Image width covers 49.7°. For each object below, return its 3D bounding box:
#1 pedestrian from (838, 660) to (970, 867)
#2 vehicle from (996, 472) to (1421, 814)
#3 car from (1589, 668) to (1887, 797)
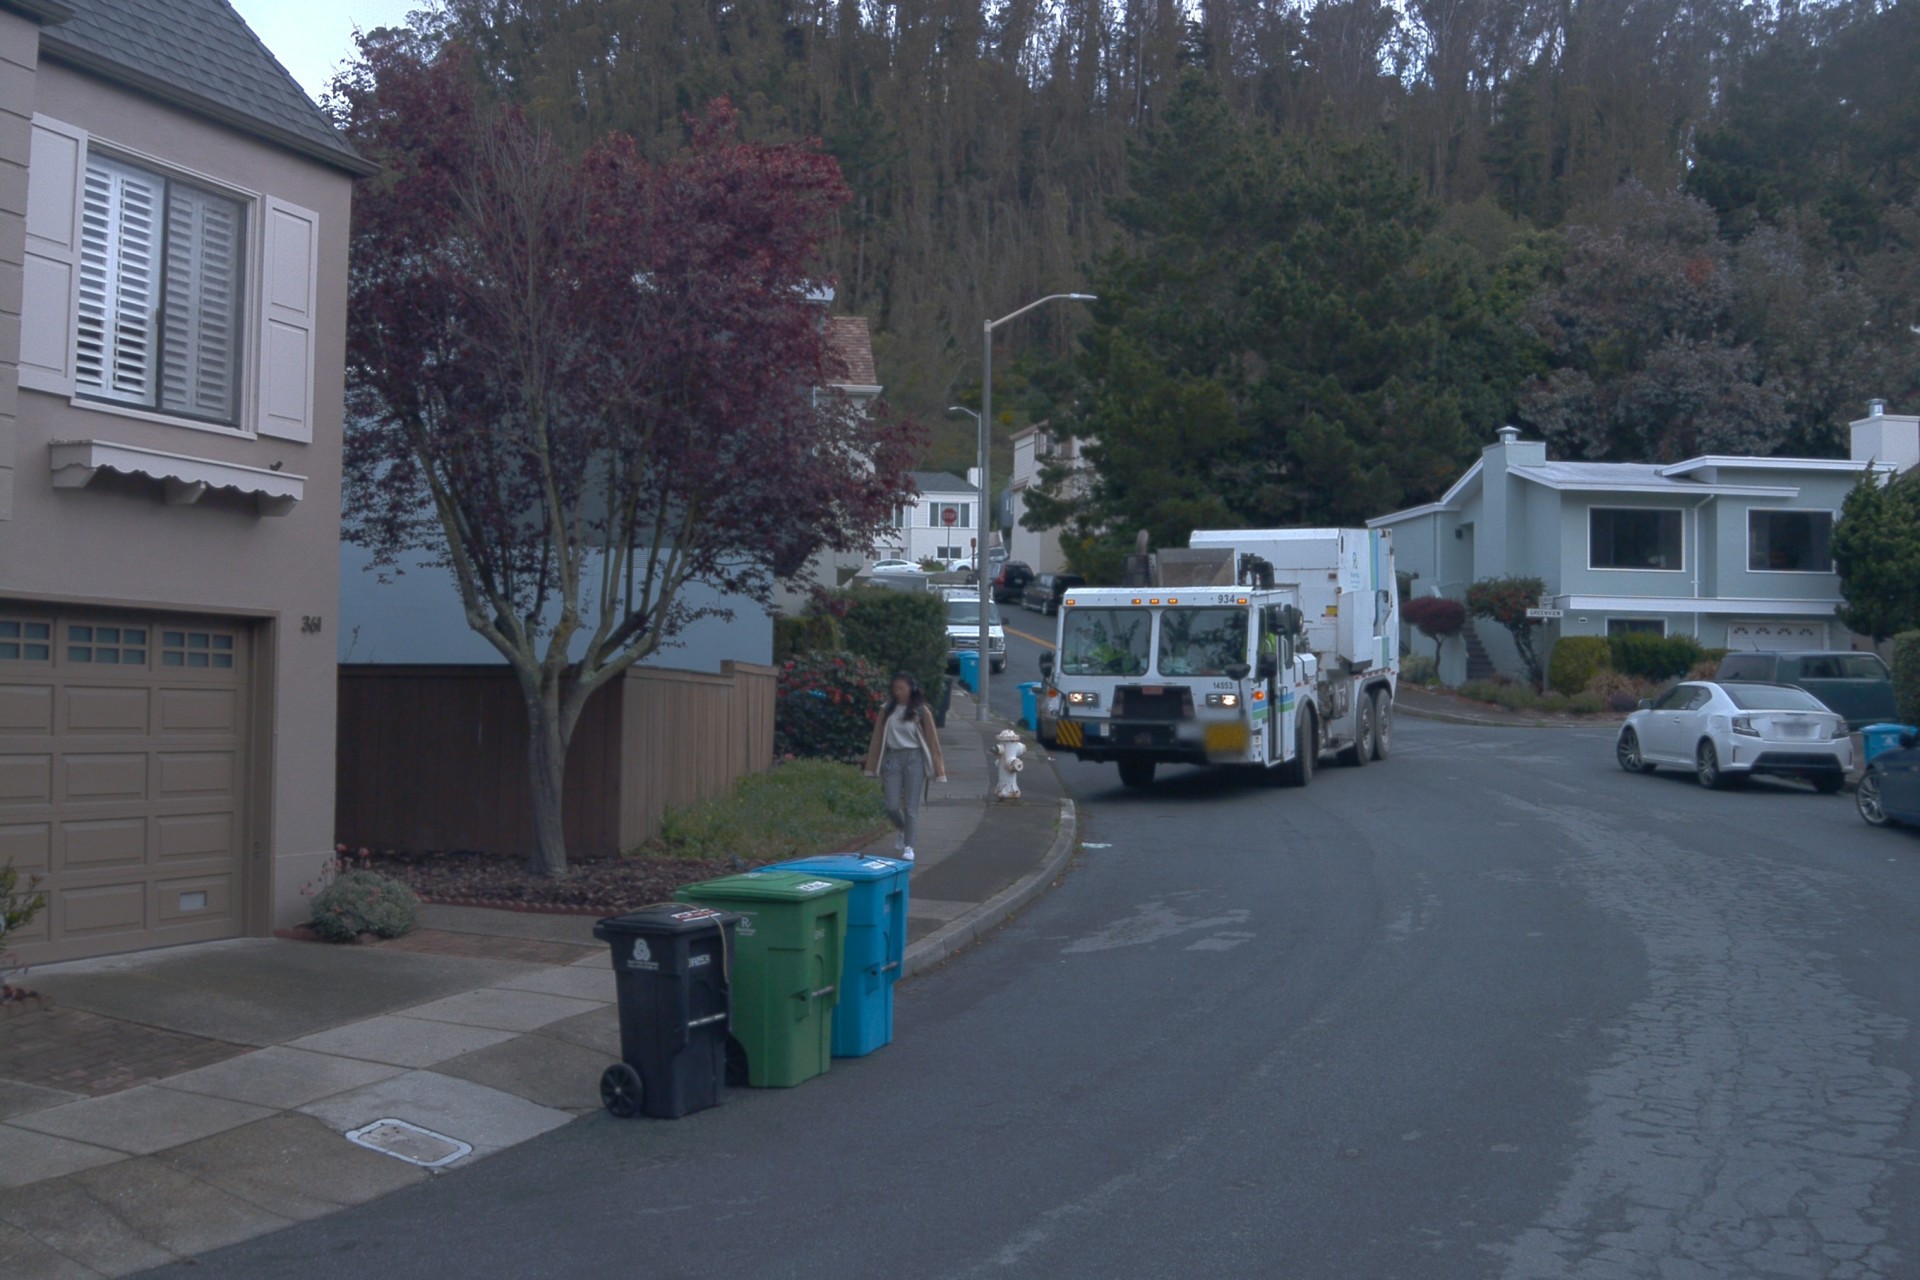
[{"bbox_3d":[-0.479,1.054,18.158,0.950,1.740,1.003,0,0,10],"label":"pedestrian"},{"bbox_3d":[3.968,0.012,29.384,3.289,3.920,10.712,0,0,22],"label":"vehicle"},{"bbox_3d":[10.628,1.208,28.735,2.206,1.540,4.534,0,0,-4],"label":"car"}]
